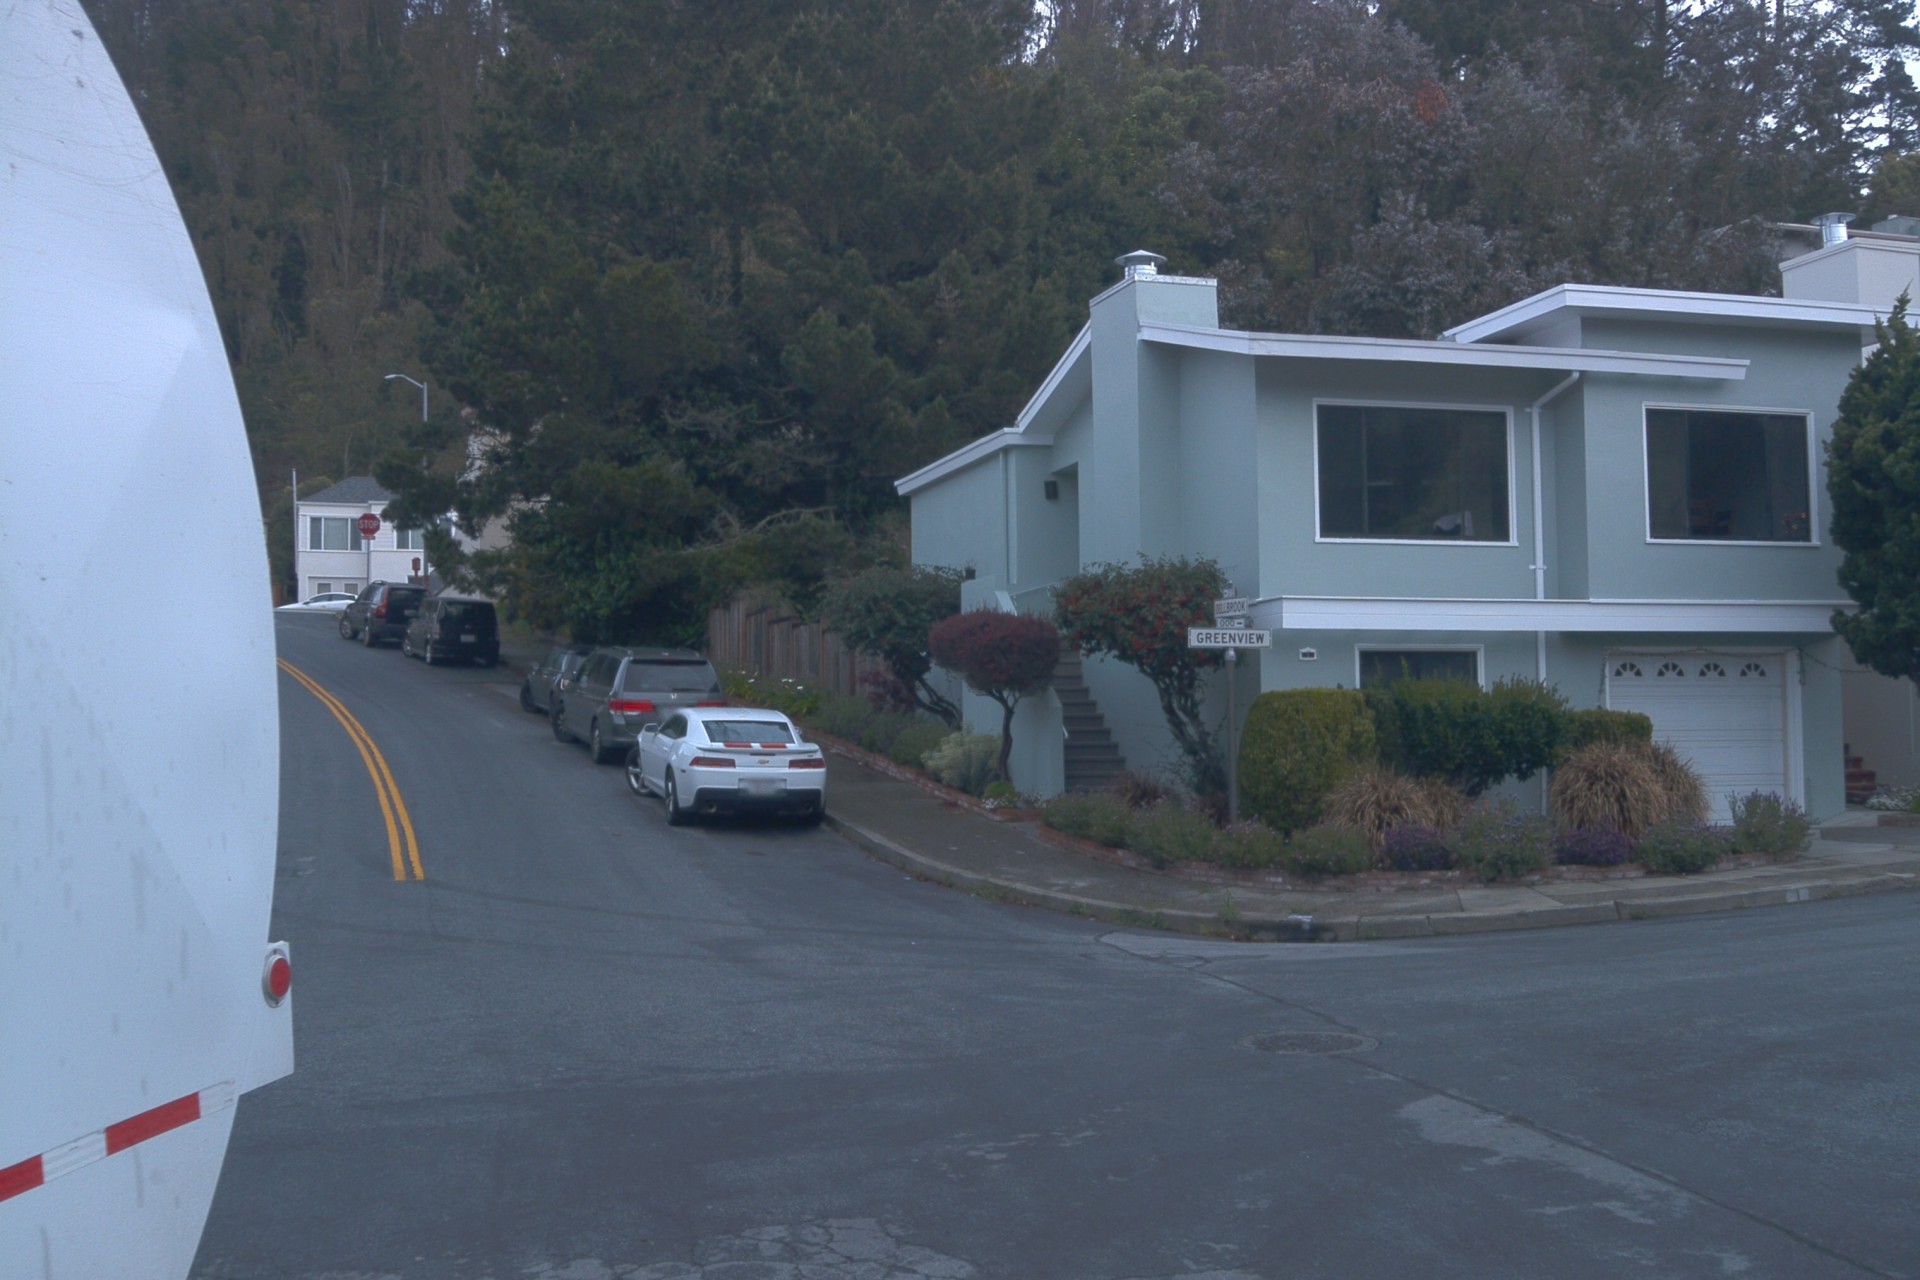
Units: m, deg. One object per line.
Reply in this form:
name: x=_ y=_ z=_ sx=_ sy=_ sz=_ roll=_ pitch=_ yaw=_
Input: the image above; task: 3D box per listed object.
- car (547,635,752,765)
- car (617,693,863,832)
car: x=-5.061 y=0.902 z=33.124 sx=2.315 sy=1.910 sz=4.712 roll=0 pitch=0 yaw=-20
car: x=-2.961 y=1.490 z=26.787 sx=2.197 sy=1.510 sz=4.909 roll=0 pitch=0 yaw=-18
